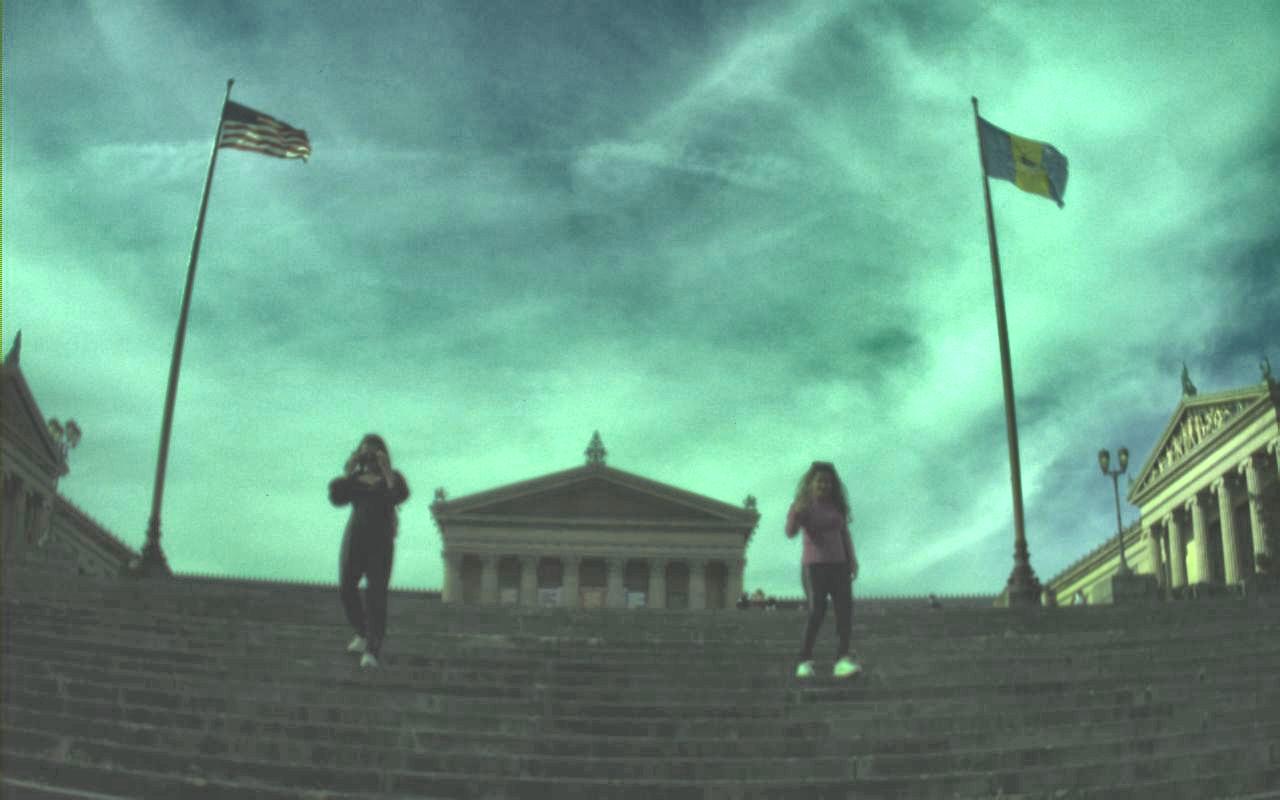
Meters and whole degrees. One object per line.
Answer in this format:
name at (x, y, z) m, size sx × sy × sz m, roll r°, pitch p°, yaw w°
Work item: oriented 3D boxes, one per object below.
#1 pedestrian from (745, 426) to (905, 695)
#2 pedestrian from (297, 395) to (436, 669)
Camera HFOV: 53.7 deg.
pedestrian at (1.247, 1.057, 8.457) m, size 0.758 × 1.718 × 0.783 m, roll 0°, pitch 0°, yaw -25°
pedestrian at (-1.883, 0.884, 8.506) m, size 0.769 × 1.807 × 0.782 m, roll 0°, pitch 0°, yaw 4°
